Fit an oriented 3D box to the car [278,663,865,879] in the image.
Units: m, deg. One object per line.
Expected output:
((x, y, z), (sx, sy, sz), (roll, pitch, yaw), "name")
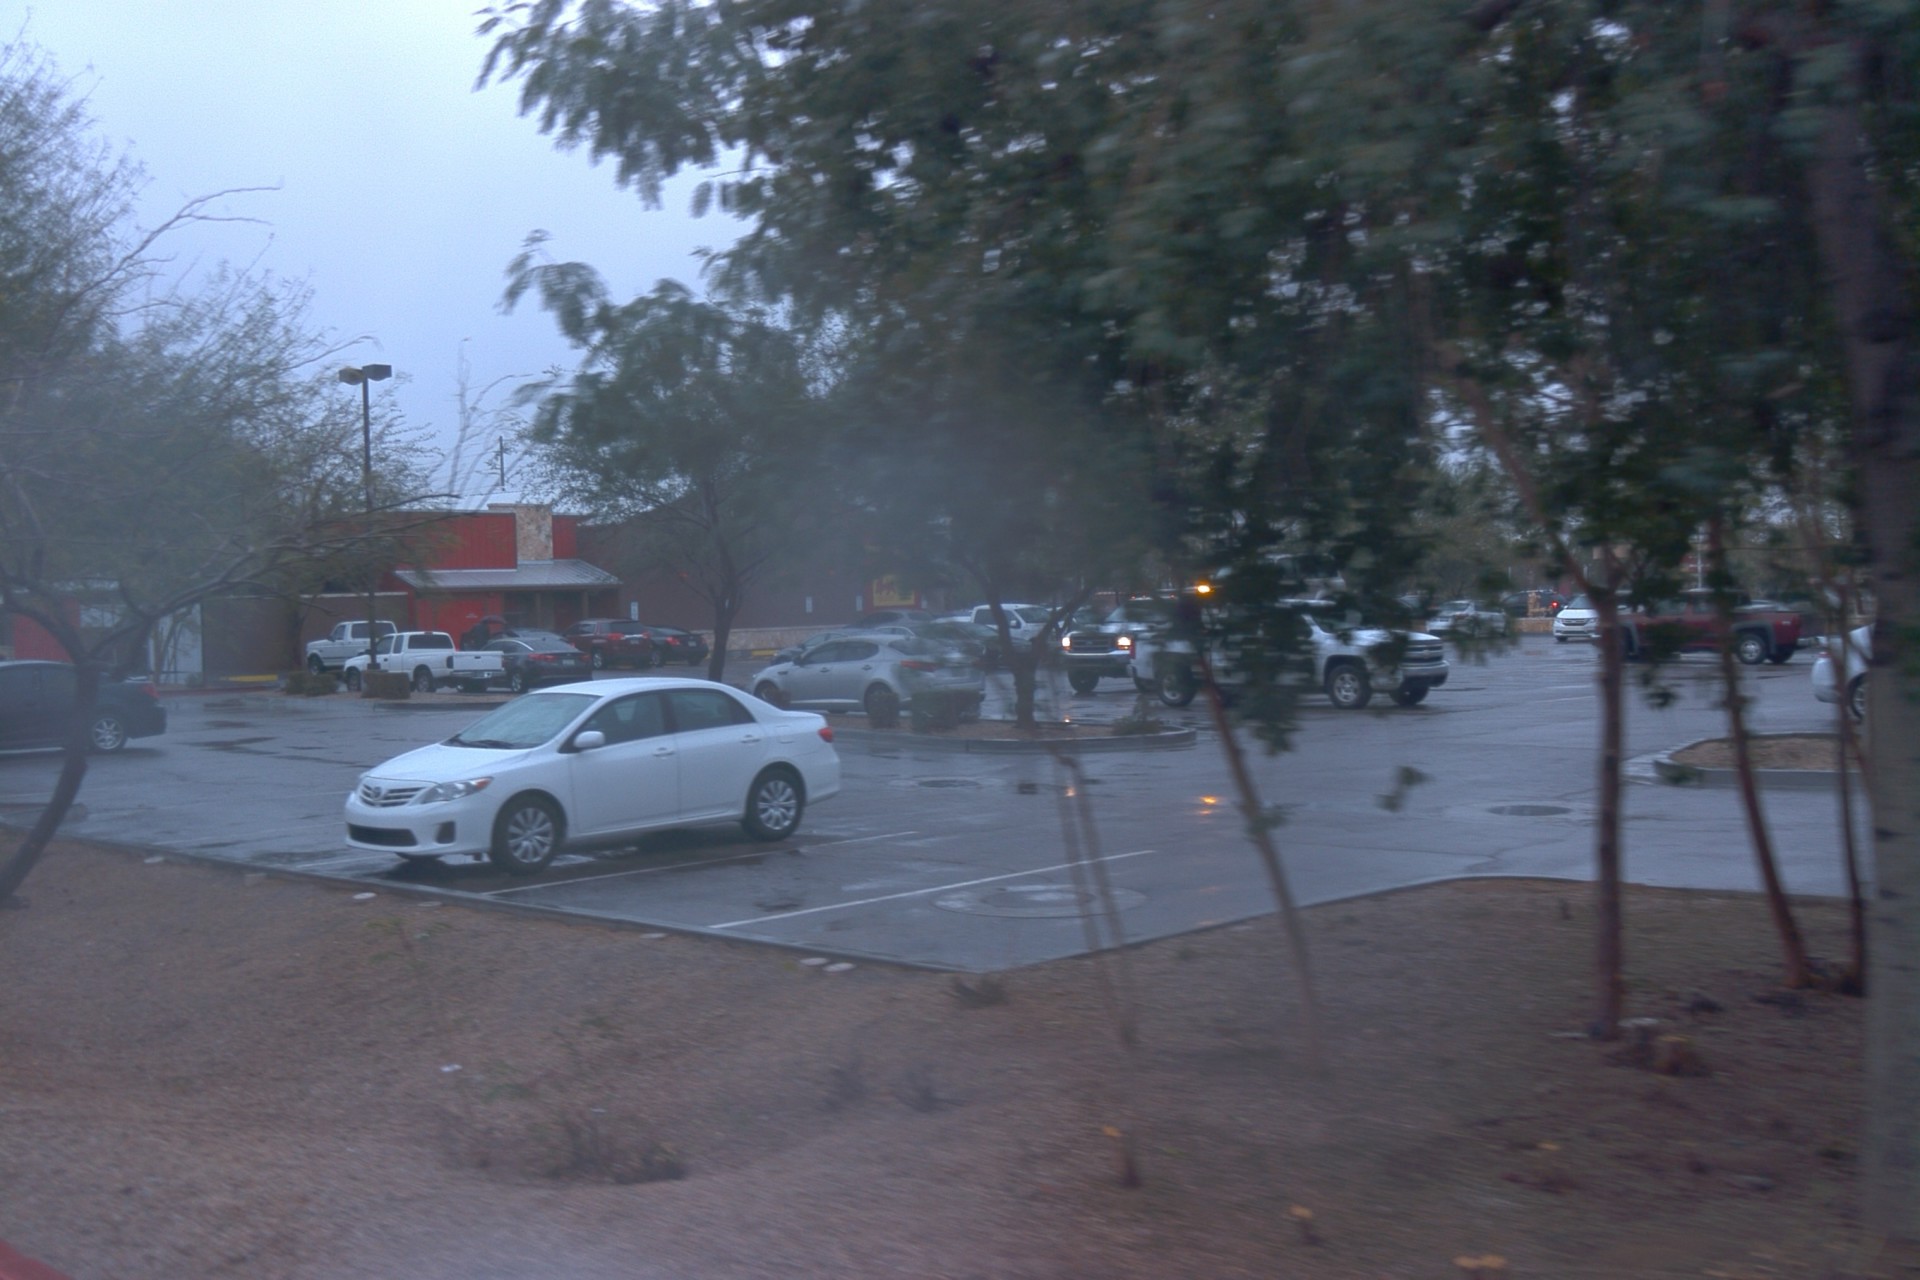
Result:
((-3.241, 1.013, 18.042), (2.215, 1.620, 4.562), (0, -1, 44), "car")

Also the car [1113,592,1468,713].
((5.661, 0.232, 36.365), (2.257, 1.950, 5.935), (0, -1, -45), "car")

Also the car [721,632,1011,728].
((-1.683, 0.662, 35.974), (4.971, 1.540, 2.186), (0, -1, 44), "car")
